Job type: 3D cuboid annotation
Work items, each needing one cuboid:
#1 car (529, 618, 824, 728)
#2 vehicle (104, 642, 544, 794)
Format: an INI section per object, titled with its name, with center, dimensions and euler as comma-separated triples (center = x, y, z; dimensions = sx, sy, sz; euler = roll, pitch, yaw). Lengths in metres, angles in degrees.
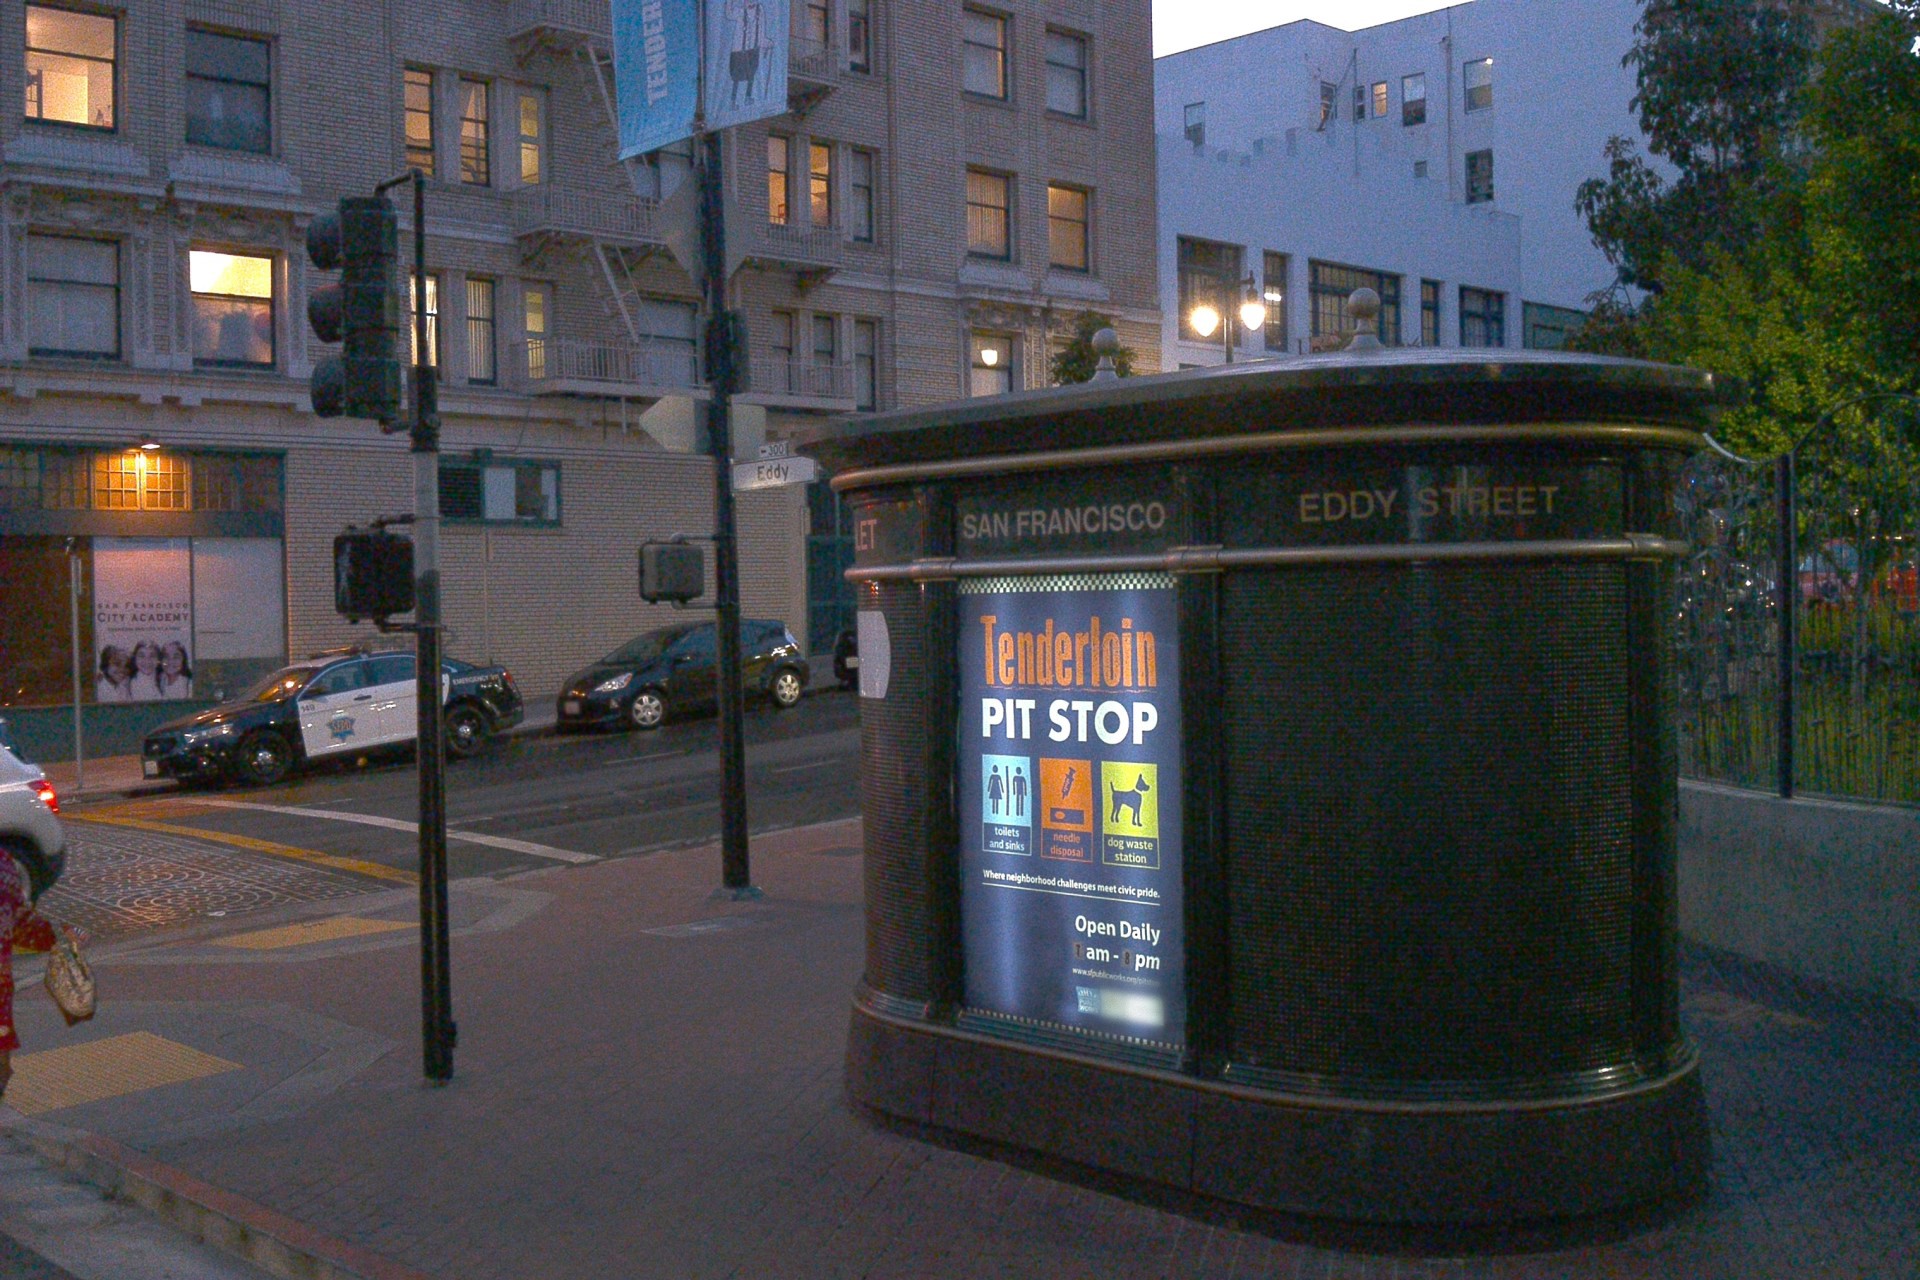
[car]
center = -4.200, 0.435, 30.938
dimensions = 3.987, 1.540, 1.958
euler = -1, 1, -44
[vehicle]
center = -8.186, 0.925, 26.963
dimensions = 2.095, 1.750, 5.105
euler = 1, 1, 44
